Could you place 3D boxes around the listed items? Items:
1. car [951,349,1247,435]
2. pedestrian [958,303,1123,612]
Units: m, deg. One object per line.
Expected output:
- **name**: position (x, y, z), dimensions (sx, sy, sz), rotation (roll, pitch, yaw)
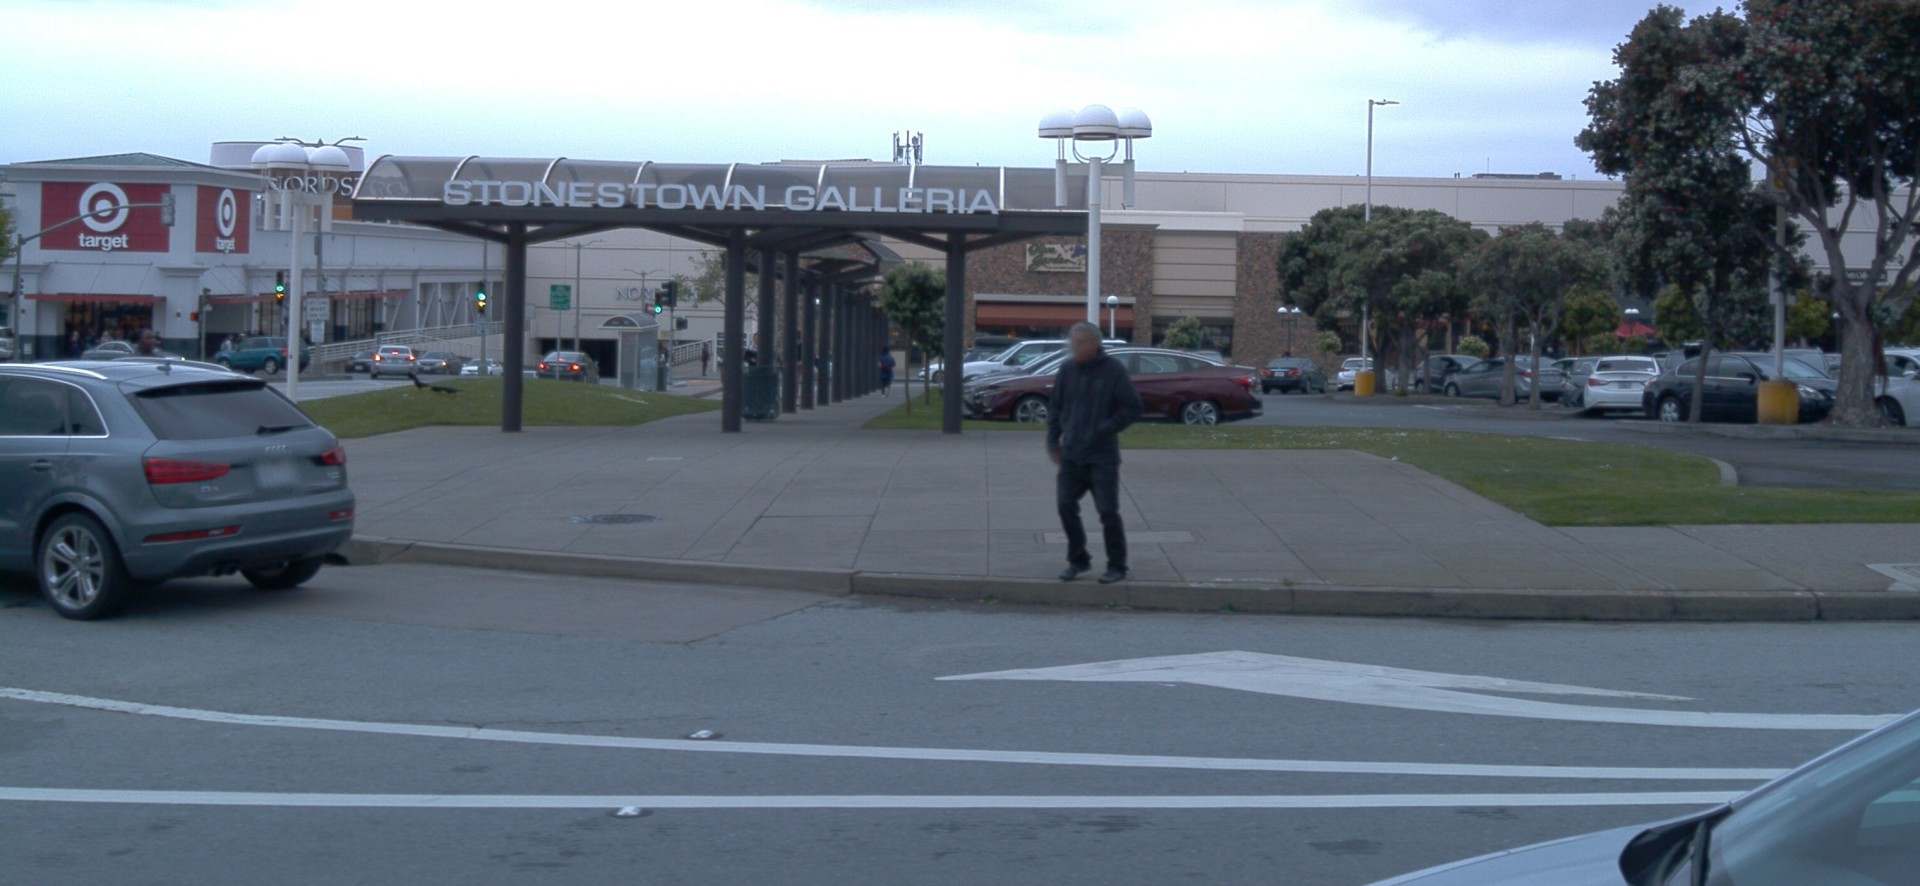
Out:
- **car**: position (2.366, -0.904, 35.326), dimensions (4.921, 1.296, 2.232), rotation (0, 4, 3)
- **pedestrian**: position (0.546, 0.053, 13.625), dimensions (0.817, 1.926, 0.928), rotation (0, 1, 23)
